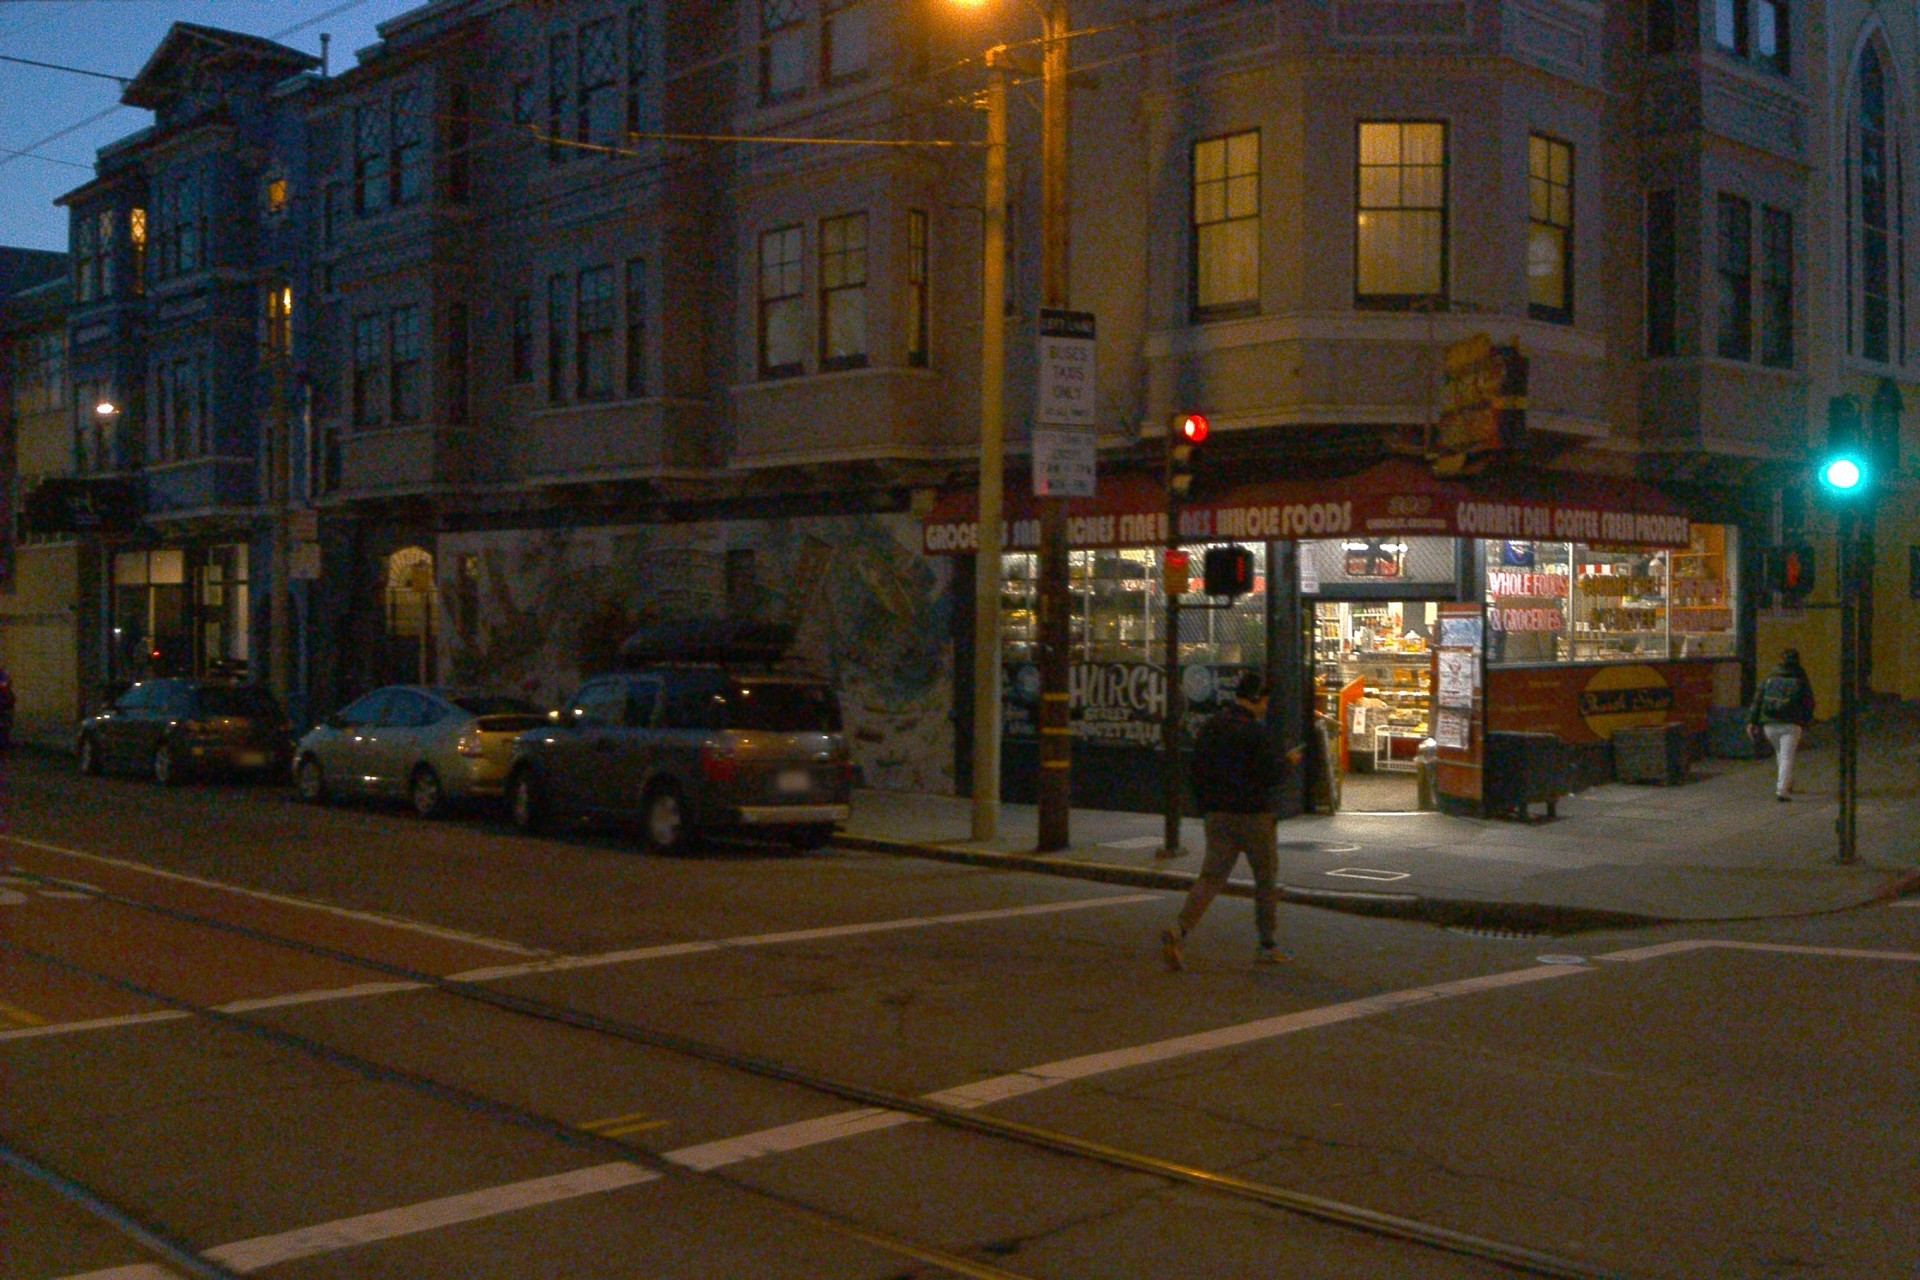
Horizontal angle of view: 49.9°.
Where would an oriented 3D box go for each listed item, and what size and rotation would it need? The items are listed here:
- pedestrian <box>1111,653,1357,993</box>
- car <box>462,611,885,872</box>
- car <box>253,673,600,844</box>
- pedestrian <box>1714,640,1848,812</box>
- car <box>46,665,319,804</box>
[{"bbox_3d":[1.696,1.065,12.710,1.275,1.930,0.905,-1,1,-44],"label":"pedestrian"},{"bbox_3d":[-2.919,0.858,20.361,2.036,2.260,4.341,-1,1,-42],"label":"car"},{"bbox_3d":[-6.238,1.277,23.839,1.960,1.640,4.426,-1,1,-44],"label":"car"},{"bbox_3d":[8.184,0.829,20.580,0.892,1.640,0.918,-1,1,-40],"label":"pedestrian"},{"bbox_3d":[-10.833,1.232,28.632,2.039,1.650,4.160,-1,1,-44],"label":"car"}]
